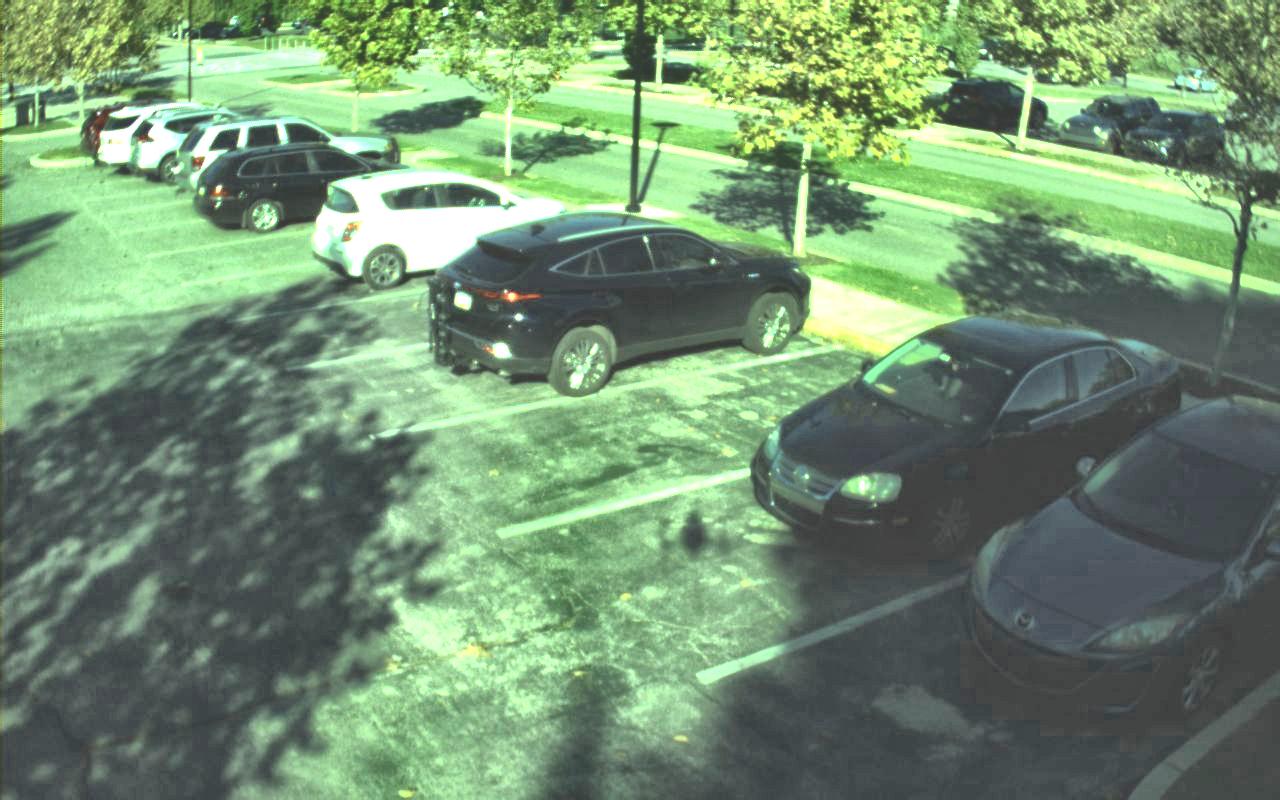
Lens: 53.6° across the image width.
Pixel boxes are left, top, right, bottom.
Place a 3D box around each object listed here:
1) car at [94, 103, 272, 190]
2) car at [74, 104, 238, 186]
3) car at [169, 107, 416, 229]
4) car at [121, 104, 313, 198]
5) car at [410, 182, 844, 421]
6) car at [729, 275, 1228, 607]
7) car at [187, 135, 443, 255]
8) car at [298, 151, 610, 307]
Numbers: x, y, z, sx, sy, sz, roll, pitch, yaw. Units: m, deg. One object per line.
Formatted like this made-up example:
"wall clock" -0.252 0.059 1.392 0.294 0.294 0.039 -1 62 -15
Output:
"car" -11.977 -6.589 30.474 4.540 1.677 1.976 -11 19 -31
"car" -13.708 -7.165 32.716 4.492 1.686 1.981 -13 20 -36
"car" -7.196 -4.828 24.783 4.821 1.871 2.057 -11 19 -31
"car" -10.316 -6.037 28.642 4.478 1.676 1.958 -12 19 -31
"car" -0.034 -1.287 14.169 4.640 1.738 1.983 -13 20 -36
"car" 3.100 0.111 10.472 4.474 1.552 1.944 -12 19 -32
"car" -6.072 -3.865 22.571 4.474 1.559 1.936 -12 19 -32
"car" -2.781 -2.662 18.662 4.291 1.660 1.905 -12 19 -33
